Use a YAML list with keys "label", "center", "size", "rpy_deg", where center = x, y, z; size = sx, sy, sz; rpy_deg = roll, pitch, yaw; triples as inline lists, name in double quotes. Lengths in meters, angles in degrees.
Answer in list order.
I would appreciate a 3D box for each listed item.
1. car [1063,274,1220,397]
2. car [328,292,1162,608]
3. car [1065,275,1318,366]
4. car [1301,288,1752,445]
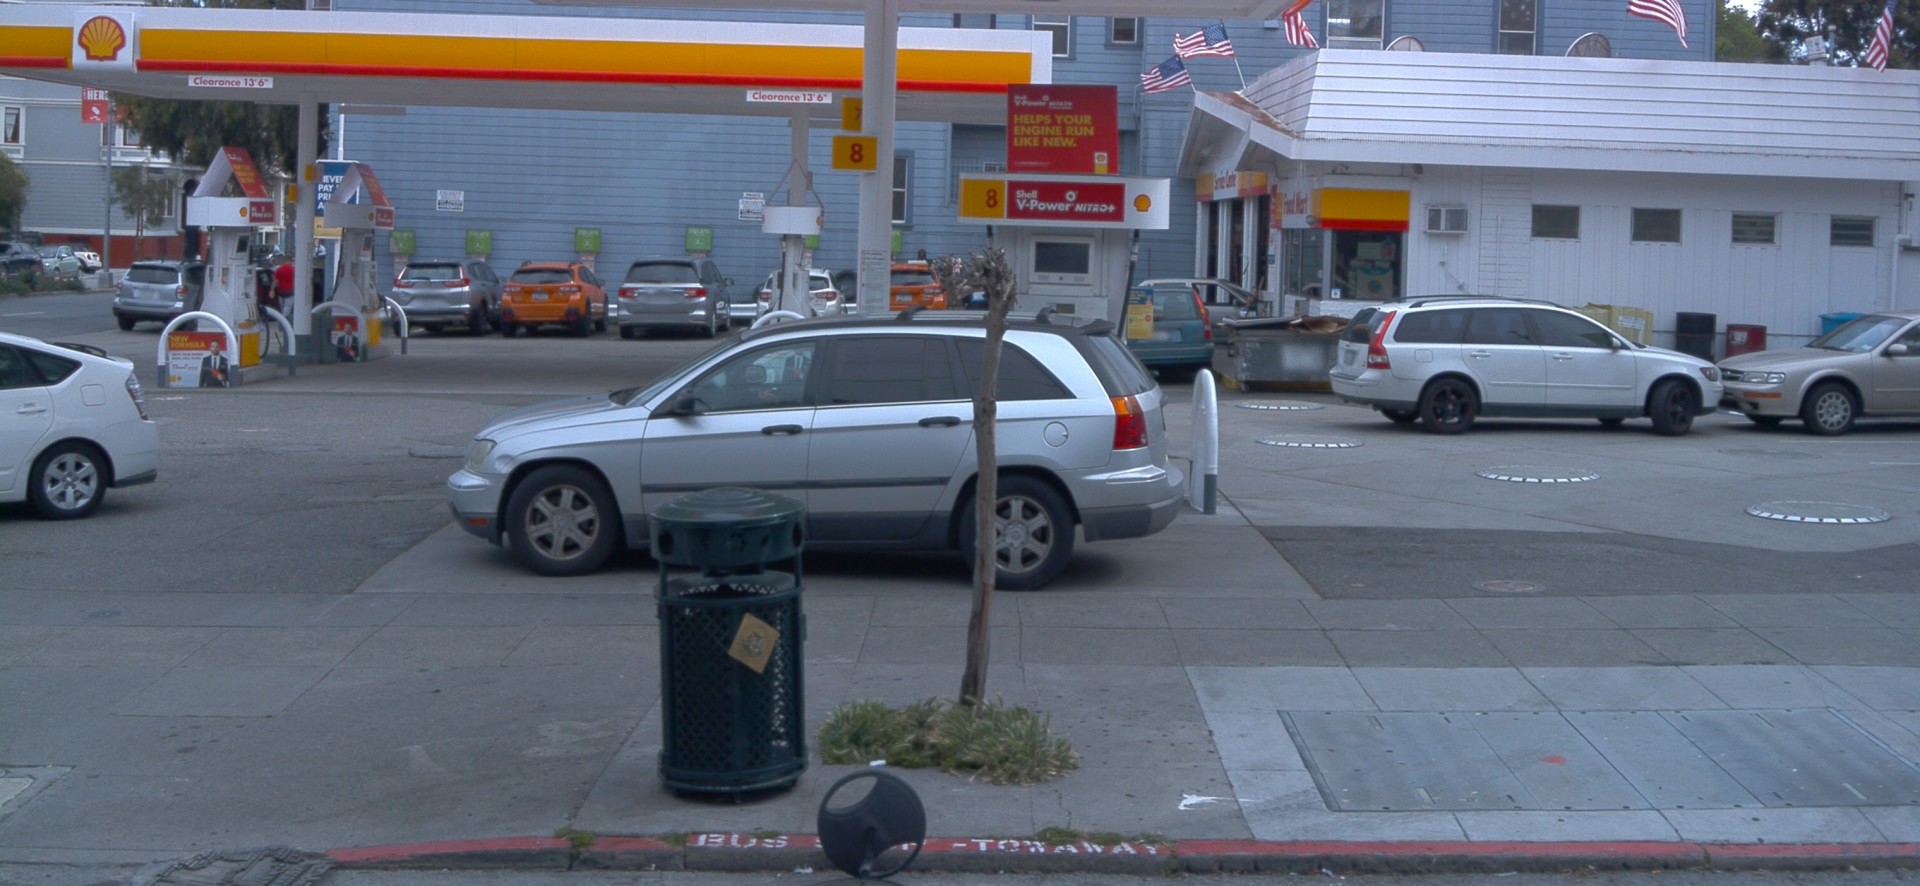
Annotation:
- label: "car"
  center: [2.715, -1.727, 31.870]
  size: [2.066, 1.571, 4.833]
  rpy_deg: [0, 6, 1]
- label: "car"
  center: [-1.236, -0.045, 13.445]
  size: [5.048, 1.774, 2.165]
  rpy_deg: [0, 4, 4]
- label: "car"
  center: [4.276, -2.273, 37.745]
  size: [4.491, 1.534, 1.923]
  rpy_deg: [1, 5, 10]
- label: "car"
  center: [6.370, -0.913, 23.475]
  size: [4.564, 1.564, 1.976]
  rpy_deg: [-1, 5, -7]
